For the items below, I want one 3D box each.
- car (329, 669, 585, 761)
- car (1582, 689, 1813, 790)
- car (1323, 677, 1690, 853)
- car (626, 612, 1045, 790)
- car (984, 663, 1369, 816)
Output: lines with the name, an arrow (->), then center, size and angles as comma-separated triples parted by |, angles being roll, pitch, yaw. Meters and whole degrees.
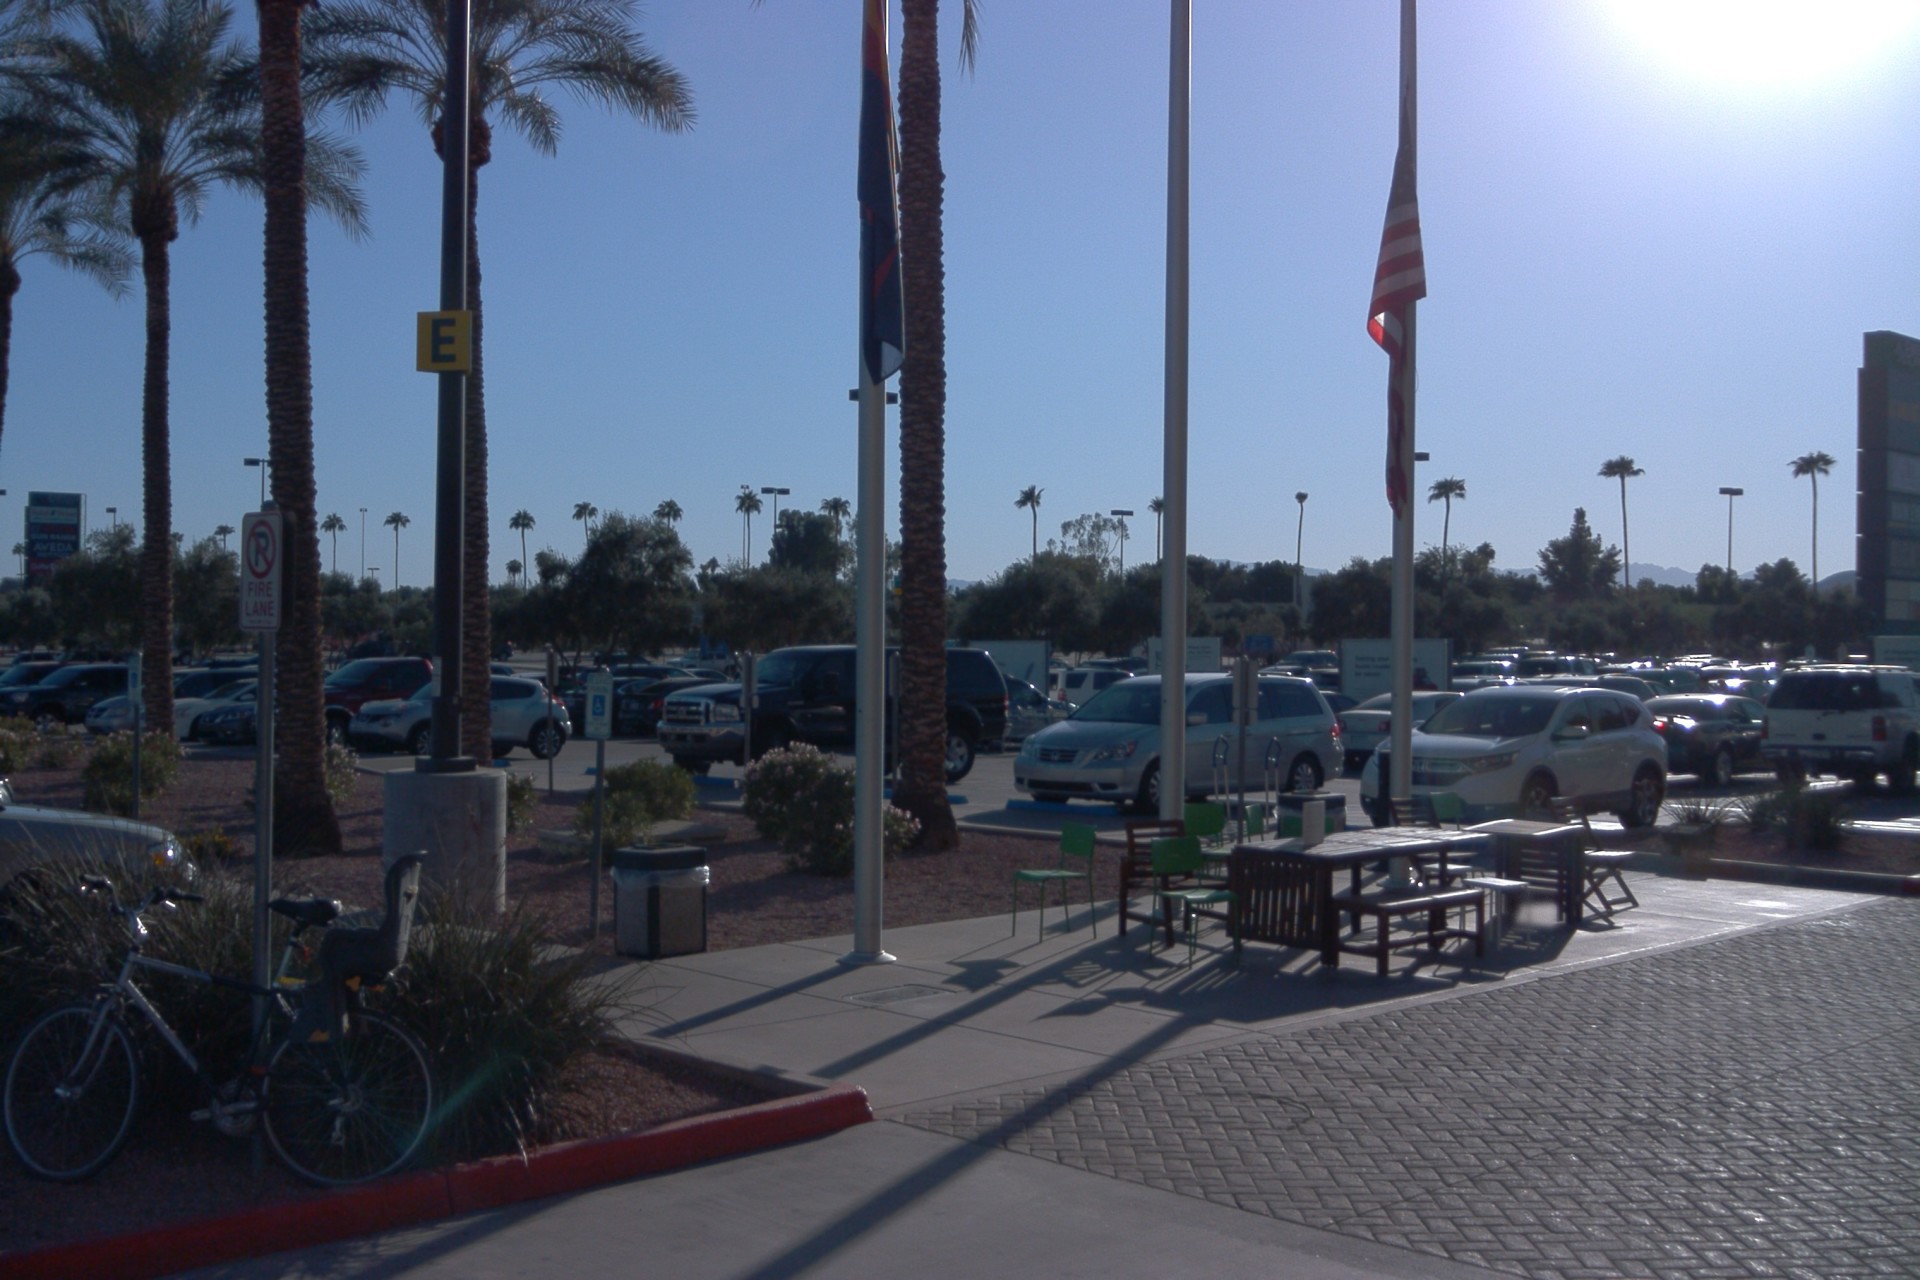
car -> -9.135, 1.326, 37.721 | 1.967, 1.550, 4.106 | 0, 0, 44
car -> 12.281, 1.596, 34.240 | 4.346, 1.490, 1.909 | 1, 0, -45
car -> 6.227, 1.301, 23.183 | 2.159, 1.710, 4.564 | 0, 0, 41
car -> -1.807, 0.870, 31.979 | 6.160, 2.490, 2.672 | 1, 0, -43
car -> 2.947, 1.211, 27.146 | 2.246, 1.780, 5.286 | 0, 0, 44
